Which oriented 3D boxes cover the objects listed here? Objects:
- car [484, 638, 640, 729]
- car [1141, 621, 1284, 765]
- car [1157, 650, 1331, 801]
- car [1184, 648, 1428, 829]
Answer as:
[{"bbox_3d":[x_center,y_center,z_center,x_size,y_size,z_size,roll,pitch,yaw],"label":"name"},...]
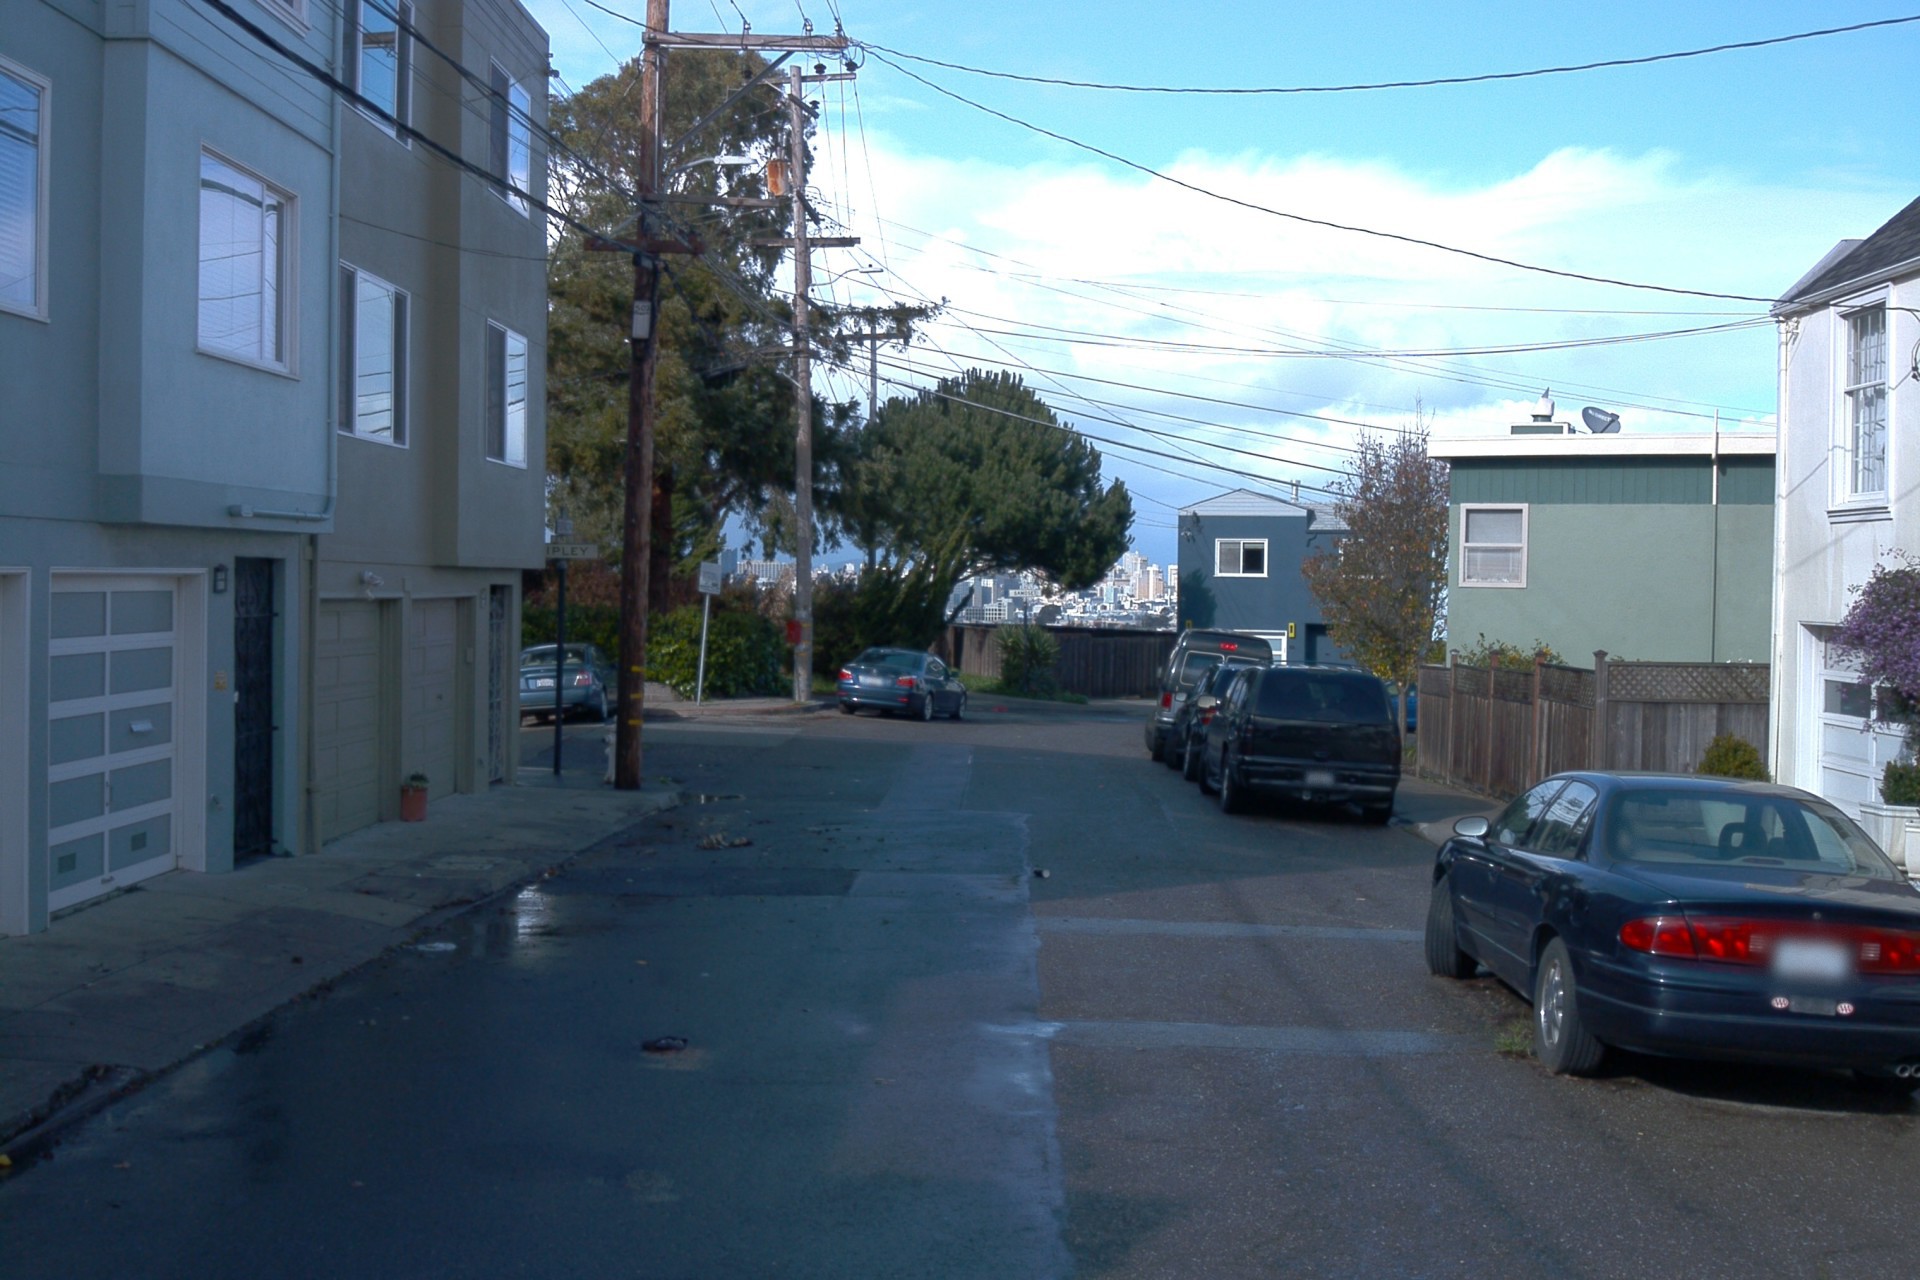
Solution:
[{"bbox_3d":[-7.090,0.734,37.101,1.906,1.450,4.515,1,1,0],"label":"car"},{"bbox_3d":[4.407,0.838,36.504,2.287,2.280,5.497,1,1,6],"label":"car"},{"bbox_3d":[4.189,1.206,31.042,2.071,1.960,4.716,1,1,2],"label":"car"},{"bbox_3d":[4.143,1.106,25.550,2.280,1.880,5.115,1,1,2],"label":"car"}]
